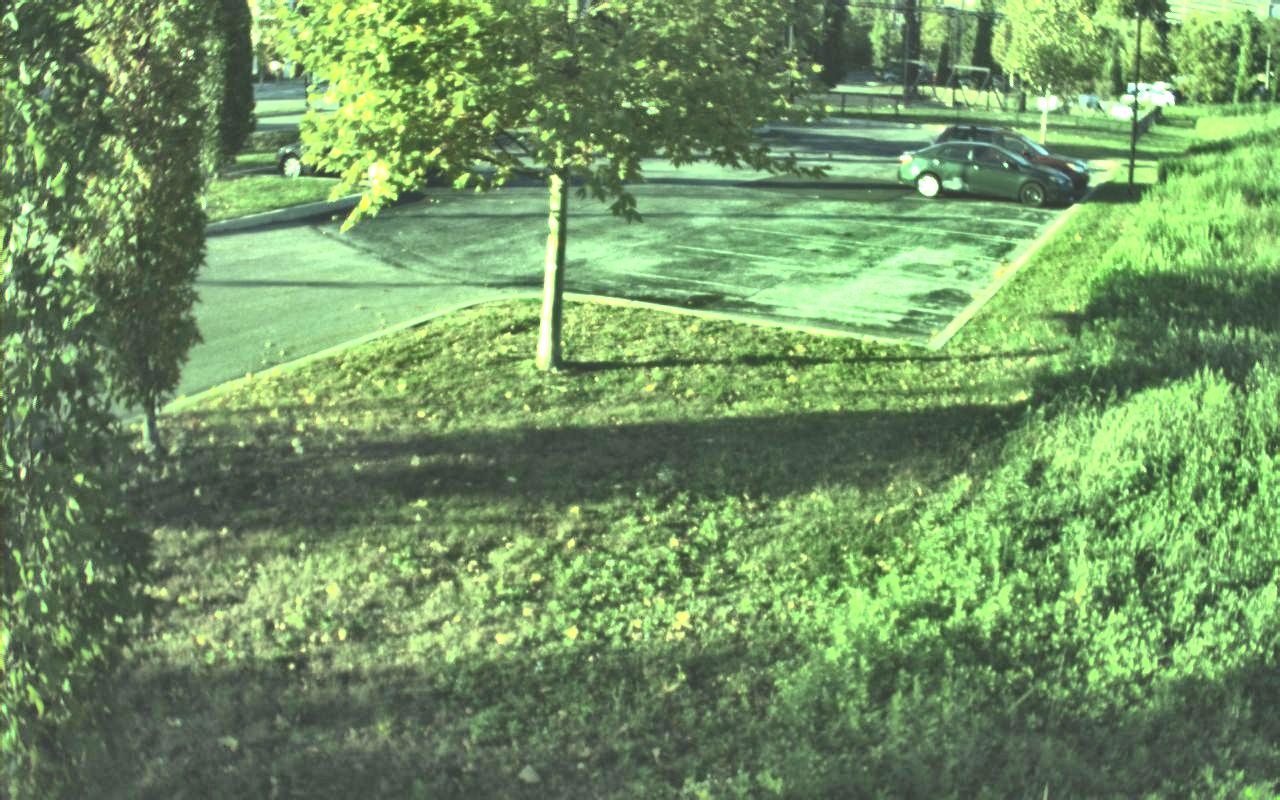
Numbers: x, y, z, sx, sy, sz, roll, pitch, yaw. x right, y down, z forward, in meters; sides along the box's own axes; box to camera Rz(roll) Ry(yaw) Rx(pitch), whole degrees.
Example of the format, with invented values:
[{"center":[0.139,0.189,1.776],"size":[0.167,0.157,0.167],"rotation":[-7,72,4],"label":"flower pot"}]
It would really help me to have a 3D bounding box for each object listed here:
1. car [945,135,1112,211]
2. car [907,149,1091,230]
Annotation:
[{"center":[10.598,-6.149,32.630],"size":[4.531,1.657,1.968],"rotation":[5,16,21],"label":"car"},{"center":[9.113,-5.328,30.602],"size":[4.522,1.600,1.966],"rotation":[6,17,24],"label":"car"}]
